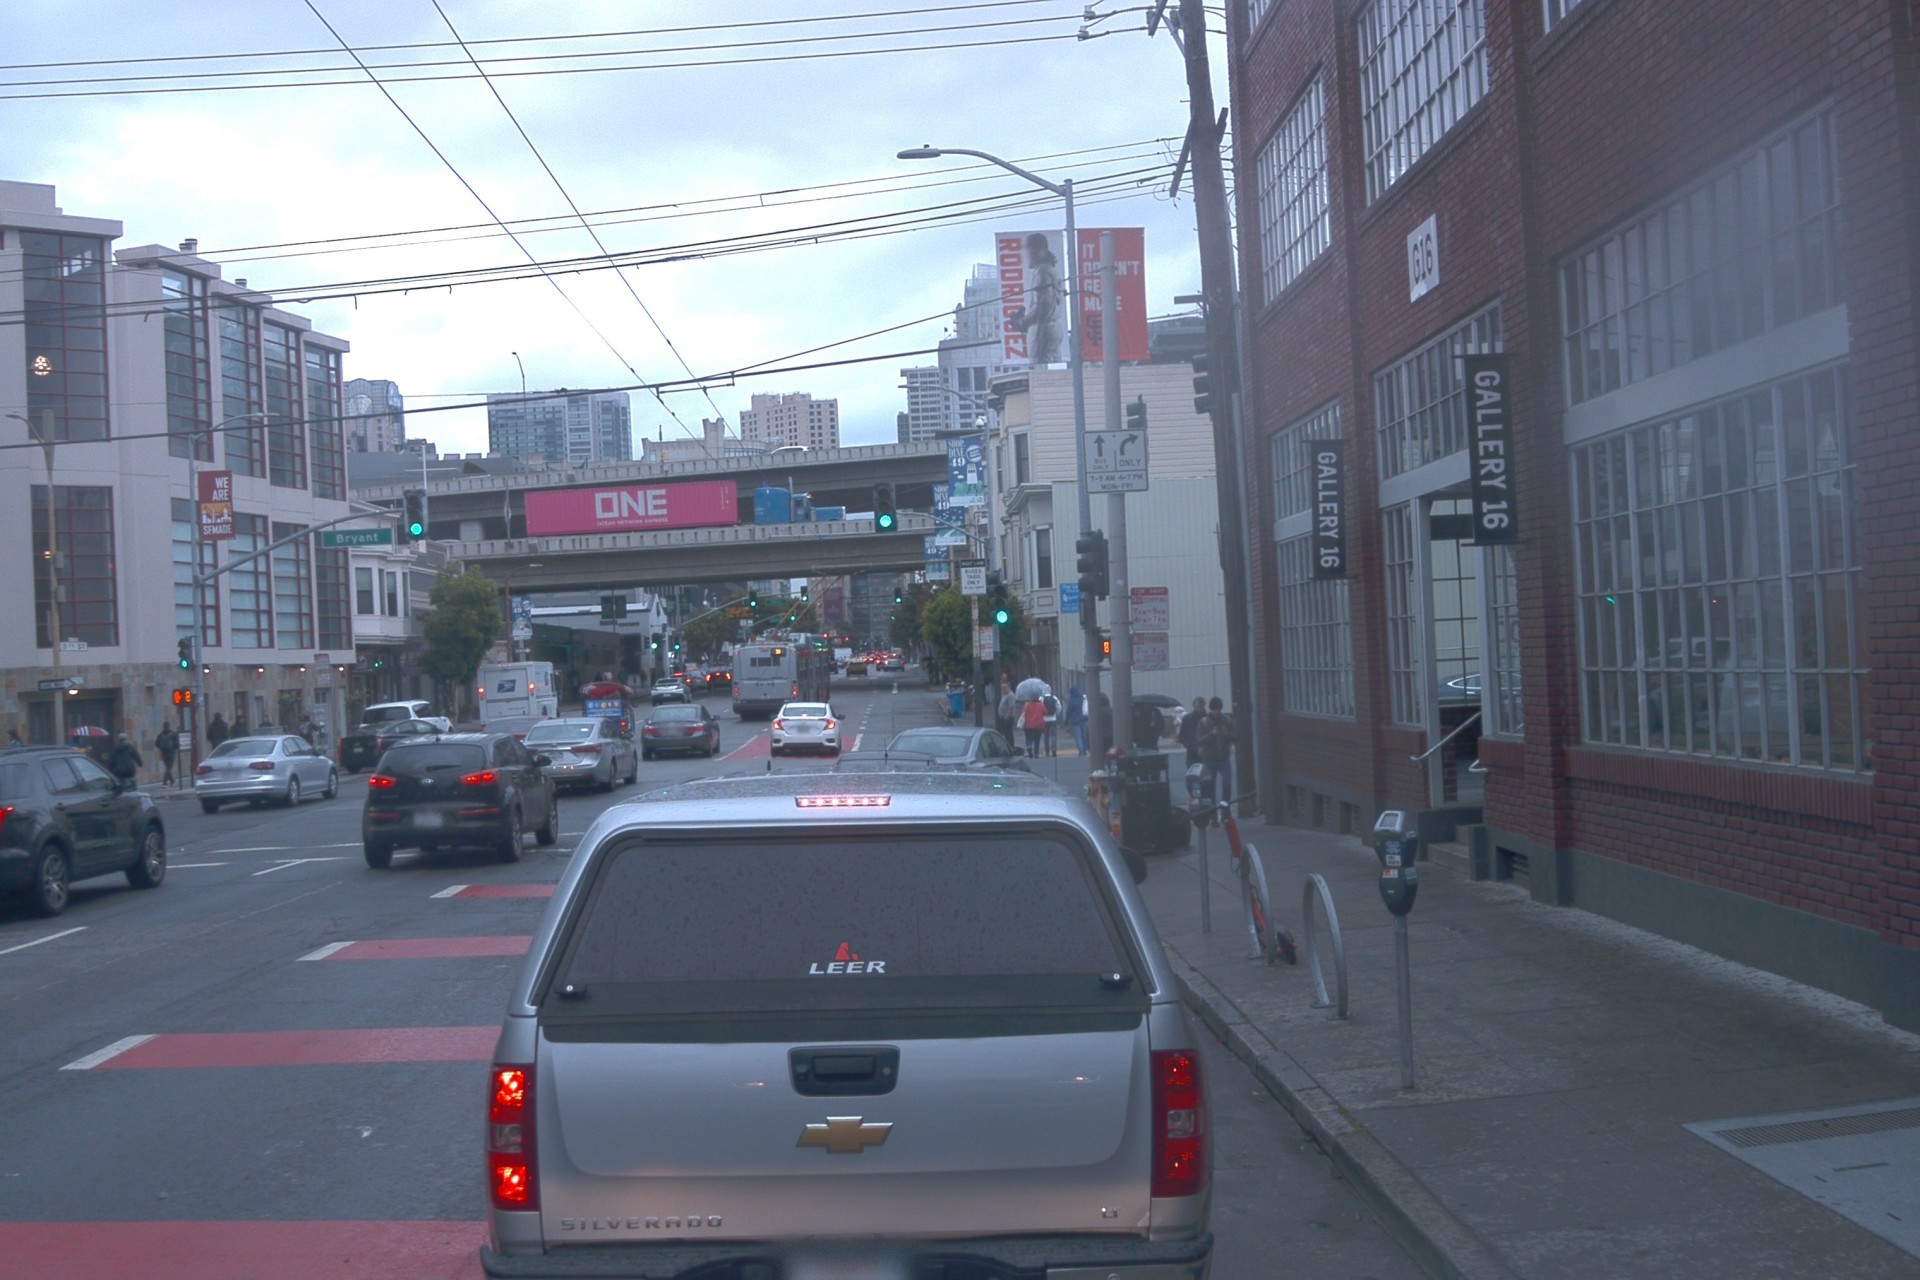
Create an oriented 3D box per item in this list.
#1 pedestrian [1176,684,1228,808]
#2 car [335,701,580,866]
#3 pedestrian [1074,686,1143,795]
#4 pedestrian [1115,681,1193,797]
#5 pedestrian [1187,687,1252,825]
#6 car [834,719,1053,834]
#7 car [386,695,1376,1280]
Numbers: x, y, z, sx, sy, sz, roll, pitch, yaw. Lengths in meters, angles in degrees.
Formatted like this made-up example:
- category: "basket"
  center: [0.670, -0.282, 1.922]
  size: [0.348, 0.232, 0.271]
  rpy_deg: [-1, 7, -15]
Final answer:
- category: "pedestrian"
  center: [3.737, 1.625, 31.964]
  size: [0.749, 1.870, 0.954]
  rpy_deg: [0, -1, 9]
- category: "car"
  center: [-6.438, 1.787, 27.095]
  size: [2.197, 1.900, 4.423]
  rpy_deg: [0, -1, -1]
- category: "pedestrian"
  center: [2.476, 1.664, 34.654]
  size: [1.053, 1.770, 1.059]
  rpy_deg: [0, -1, -1]
- category: "pedestrian"
  center: [3.201, 1.619, 34.213]
  size: [1.016, 1.870, 1.038]
  rpy_deg: [0, -1, -12]
- category: "pedestrian"
  center: [3.502, 1.551, 28.023]
  size: [0.763, 1.820, 0.914]
  rpy_deg: [0, -1, 0]
- category: "car"
  center: [-0.154, 2.006, 31.441]
  size: [2.071, 1.500, 4.412]
  rpy_deg: [0, -1, 17]
- category: "car"
  center: [-0.310, 1.283, 7.838]
  size: [2.411, 2.070, 5.546]
  rpy_deg: [0, -1, -3]
